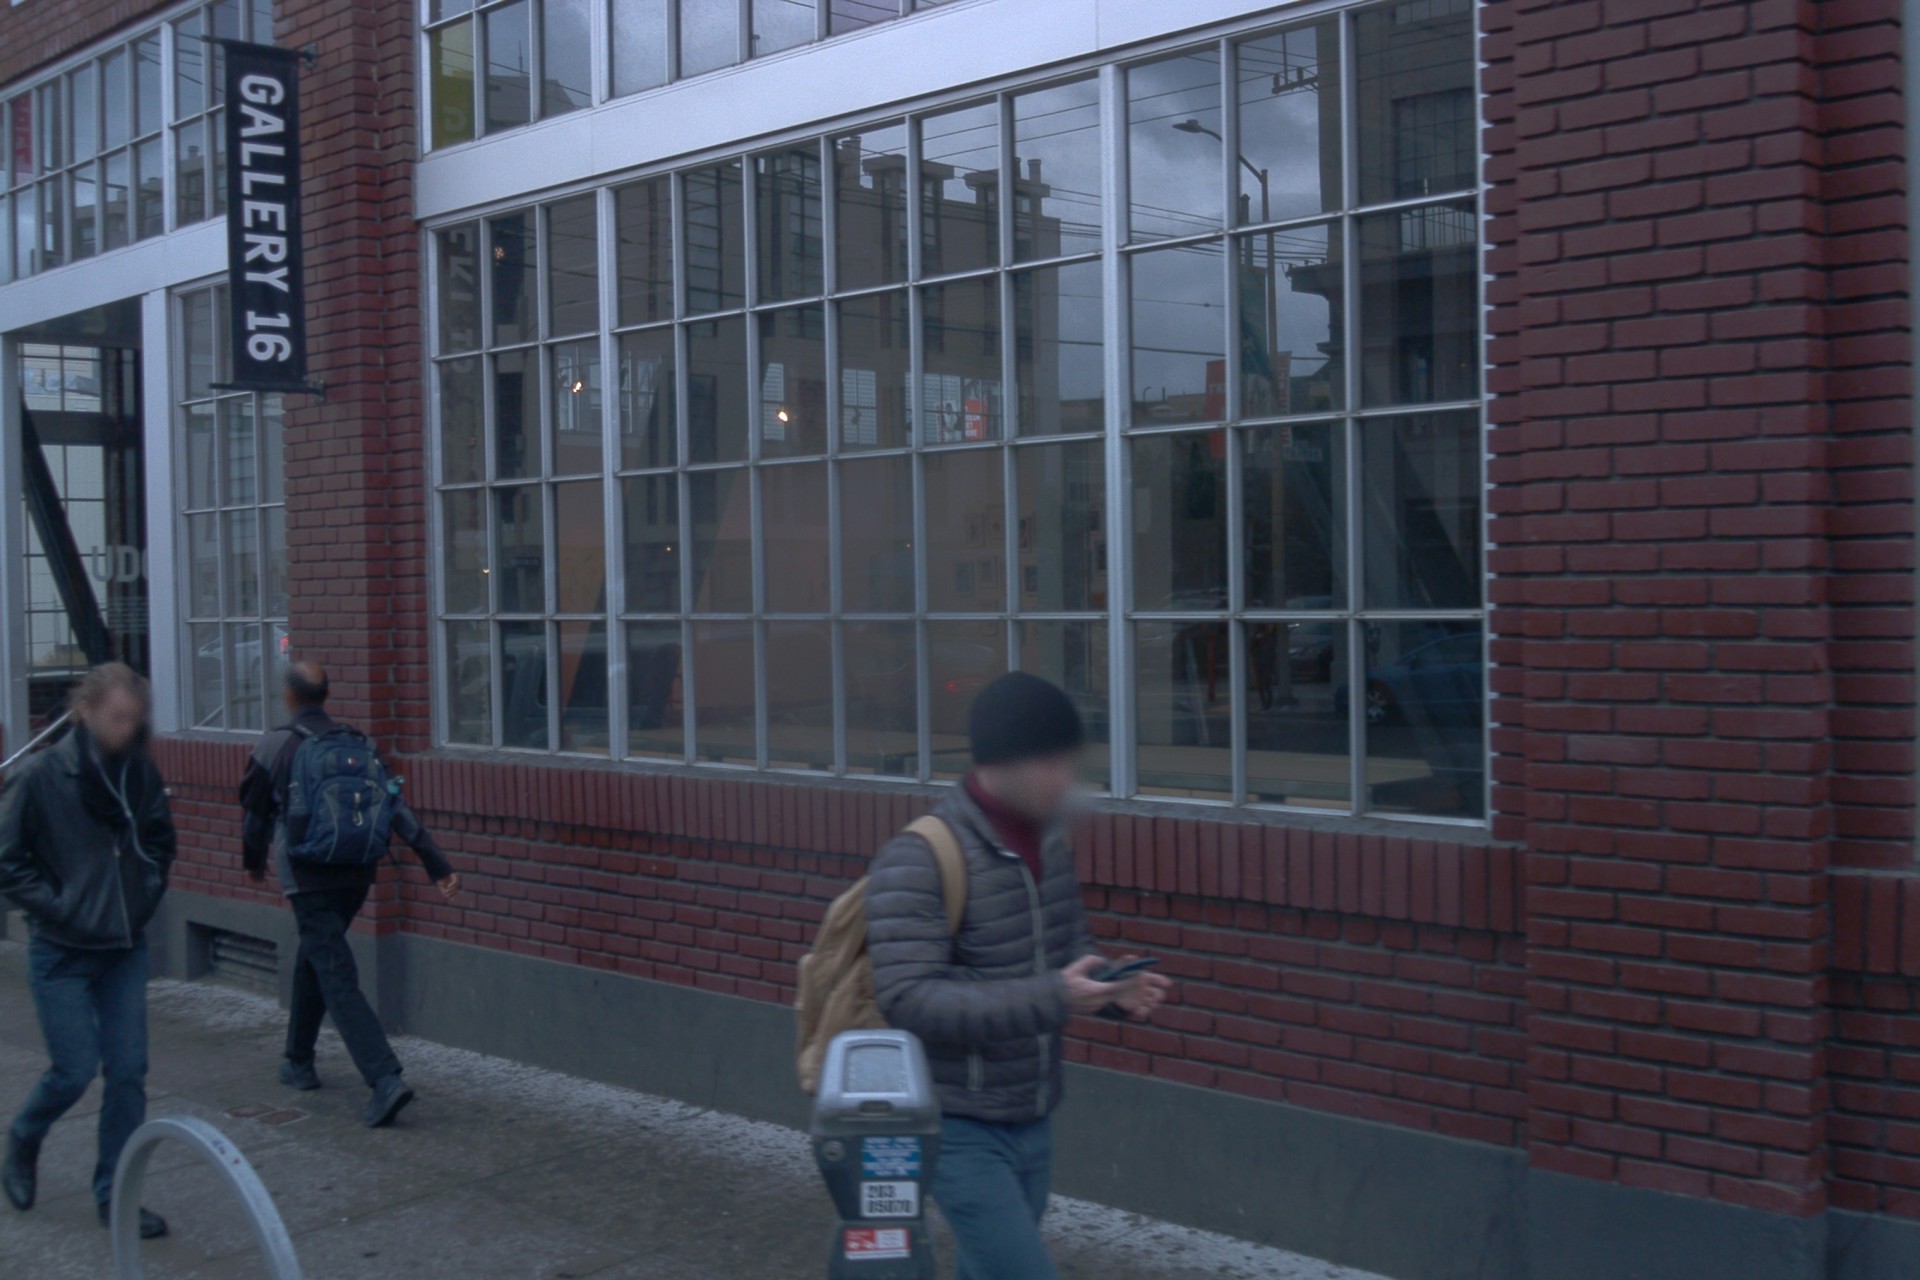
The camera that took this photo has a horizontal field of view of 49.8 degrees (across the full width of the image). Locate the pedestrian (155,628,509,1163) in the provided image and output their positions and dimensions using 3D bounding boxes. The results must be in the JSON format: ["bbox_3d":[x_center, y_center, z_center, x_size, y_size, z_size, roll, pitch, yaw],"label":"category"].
[{"bbox_3d":[-2.360,0.875,7.746,0.807,1.820,1.145,1,-1,-45],"label":"pedestrian"}]

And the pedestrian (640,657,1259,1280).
[{"bbox_3d":[-0.021,0.946,4.020,0.921,1.820,0.758,0,-1,41],"label":"pedestrian"}]
